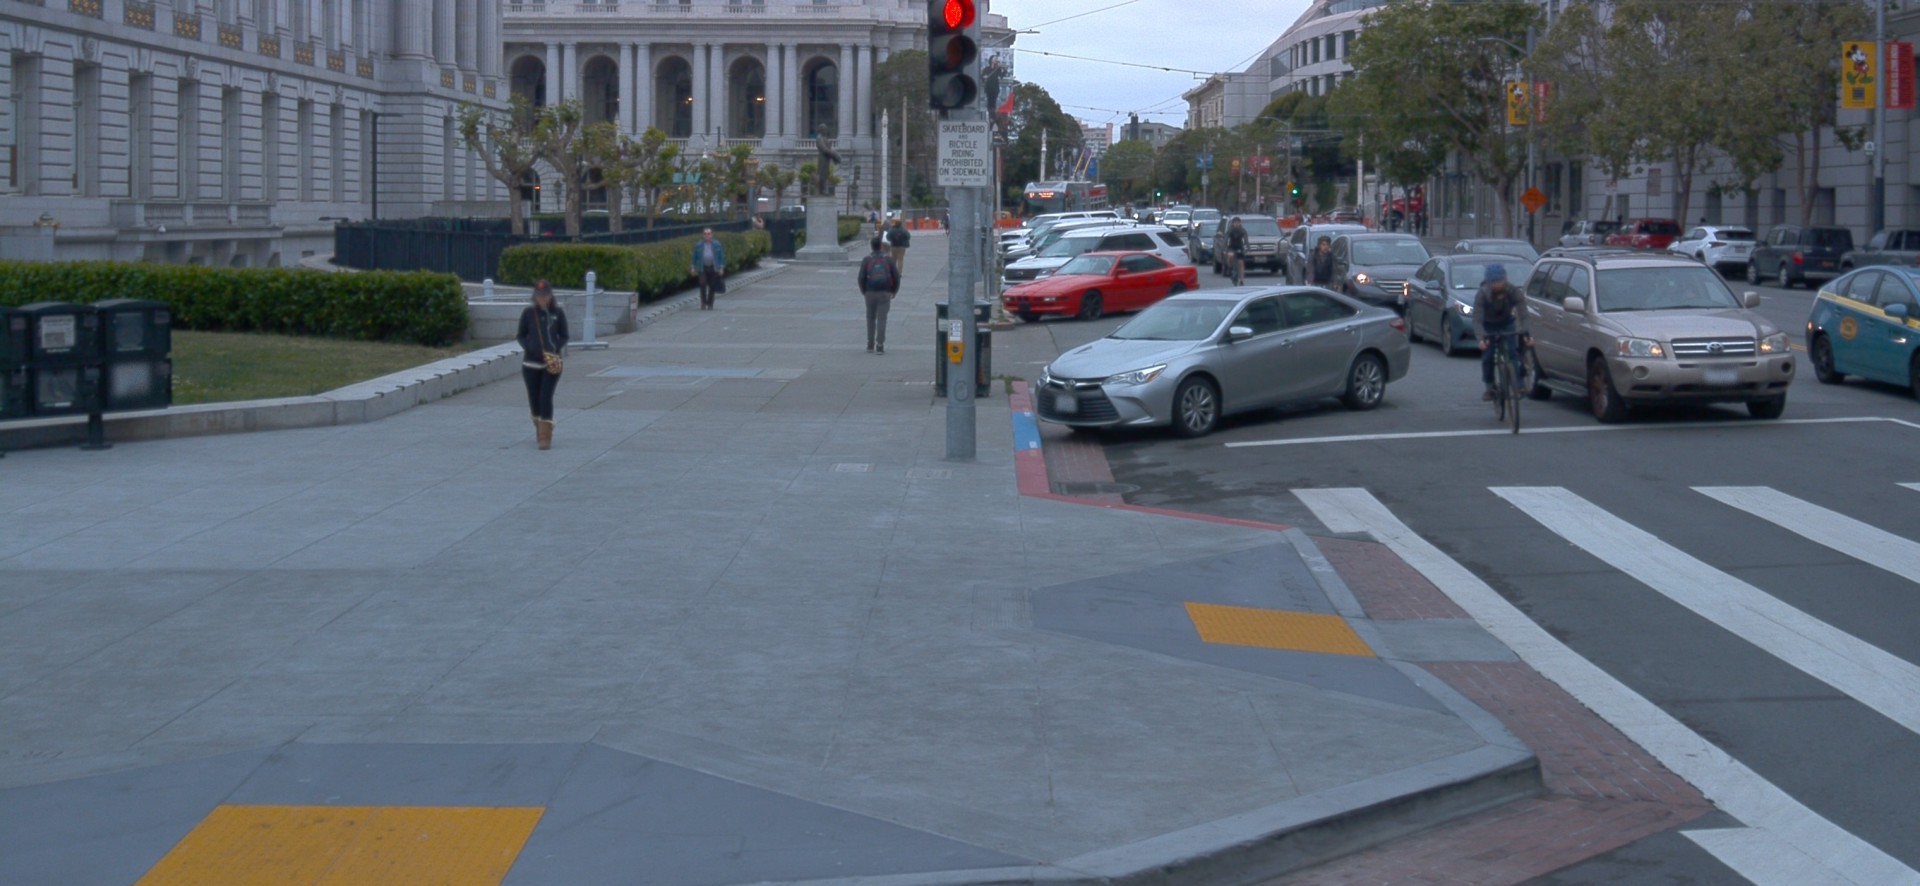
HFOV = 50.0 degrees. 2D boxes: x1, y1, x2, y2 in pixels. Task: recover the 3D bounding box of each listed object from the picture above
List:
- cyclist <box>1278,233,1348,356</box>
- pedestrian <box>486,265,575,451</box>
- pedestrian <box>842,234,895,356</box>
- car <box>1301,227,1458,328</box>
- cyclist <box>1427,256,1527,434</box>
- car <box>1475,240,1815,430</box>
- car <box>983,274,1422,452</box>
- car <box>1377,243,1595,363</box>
[{"bbox_3d":[5.513,-2.352,32.263,0.743,1.865,1.862,0,4,-1],"label":"cyclist"},{"bbox_3d":[-3.995,-0.814,19.195,0.668,1.678,0.873,0,2,-2],"label":"pedestrian"},{"bbox_3d":[-1.409,-2.298,31.696,0.801,1.847,0.879,0,2,-2],"label":"pedestrian"},{"bbox_3d":[7.689,-3.123,38.146,2.094,1.746,4.686,0,5,2],"label":"car"},{"bbox_3d":[5.319,-1.055,21.258,0.744,1.730,1.894,0,4,6],"label":"cyclist"},{"bbox_3d":[7.248,-1.284,22.374,2.165,1.792,4.824,0,5,1],"label":"car"},{"bbox_3d":[2.792,-0.995,22.966,4.909,1.660,2.115,-5,6,-41],"label":"car"},{"bbox_3d":[7.854,-2.192,31.199,2.127,1.619,4.846,0,6,1],"label":"car"}]
